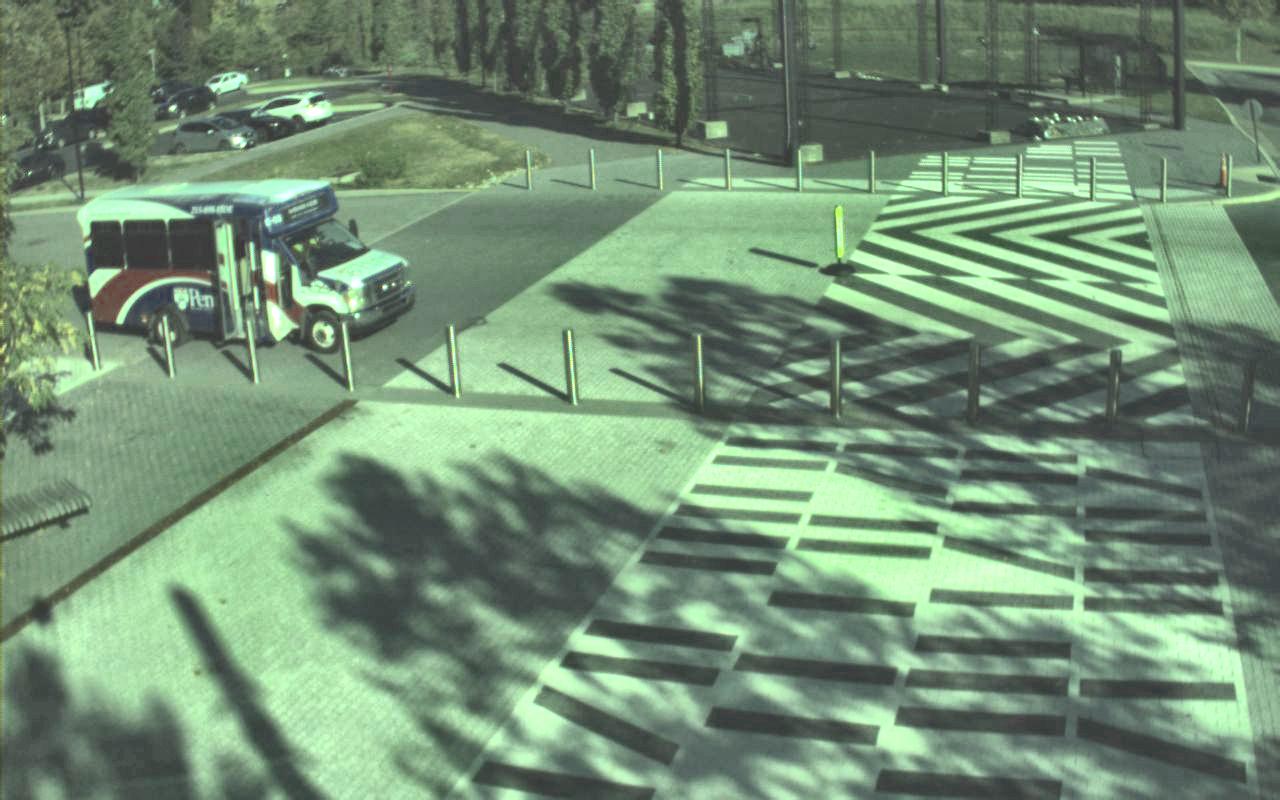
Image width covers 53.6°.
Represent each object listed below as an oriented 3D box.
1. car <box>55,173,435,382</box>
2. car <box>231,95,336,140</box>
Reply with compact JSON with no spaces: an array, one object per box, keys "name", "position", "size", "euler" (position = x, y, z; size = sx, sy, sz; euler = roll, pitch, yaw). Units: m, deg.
[{"name":"car","position":[-7.332,-2.387,21.636],"size":[6.913,2.989,2.645],"euler":[5,17,21]},{"name":"car","position":[-16.041,-12.573,53.679],"size":[4.590,1.703,2.010],"euler":[6,18,23]}]
